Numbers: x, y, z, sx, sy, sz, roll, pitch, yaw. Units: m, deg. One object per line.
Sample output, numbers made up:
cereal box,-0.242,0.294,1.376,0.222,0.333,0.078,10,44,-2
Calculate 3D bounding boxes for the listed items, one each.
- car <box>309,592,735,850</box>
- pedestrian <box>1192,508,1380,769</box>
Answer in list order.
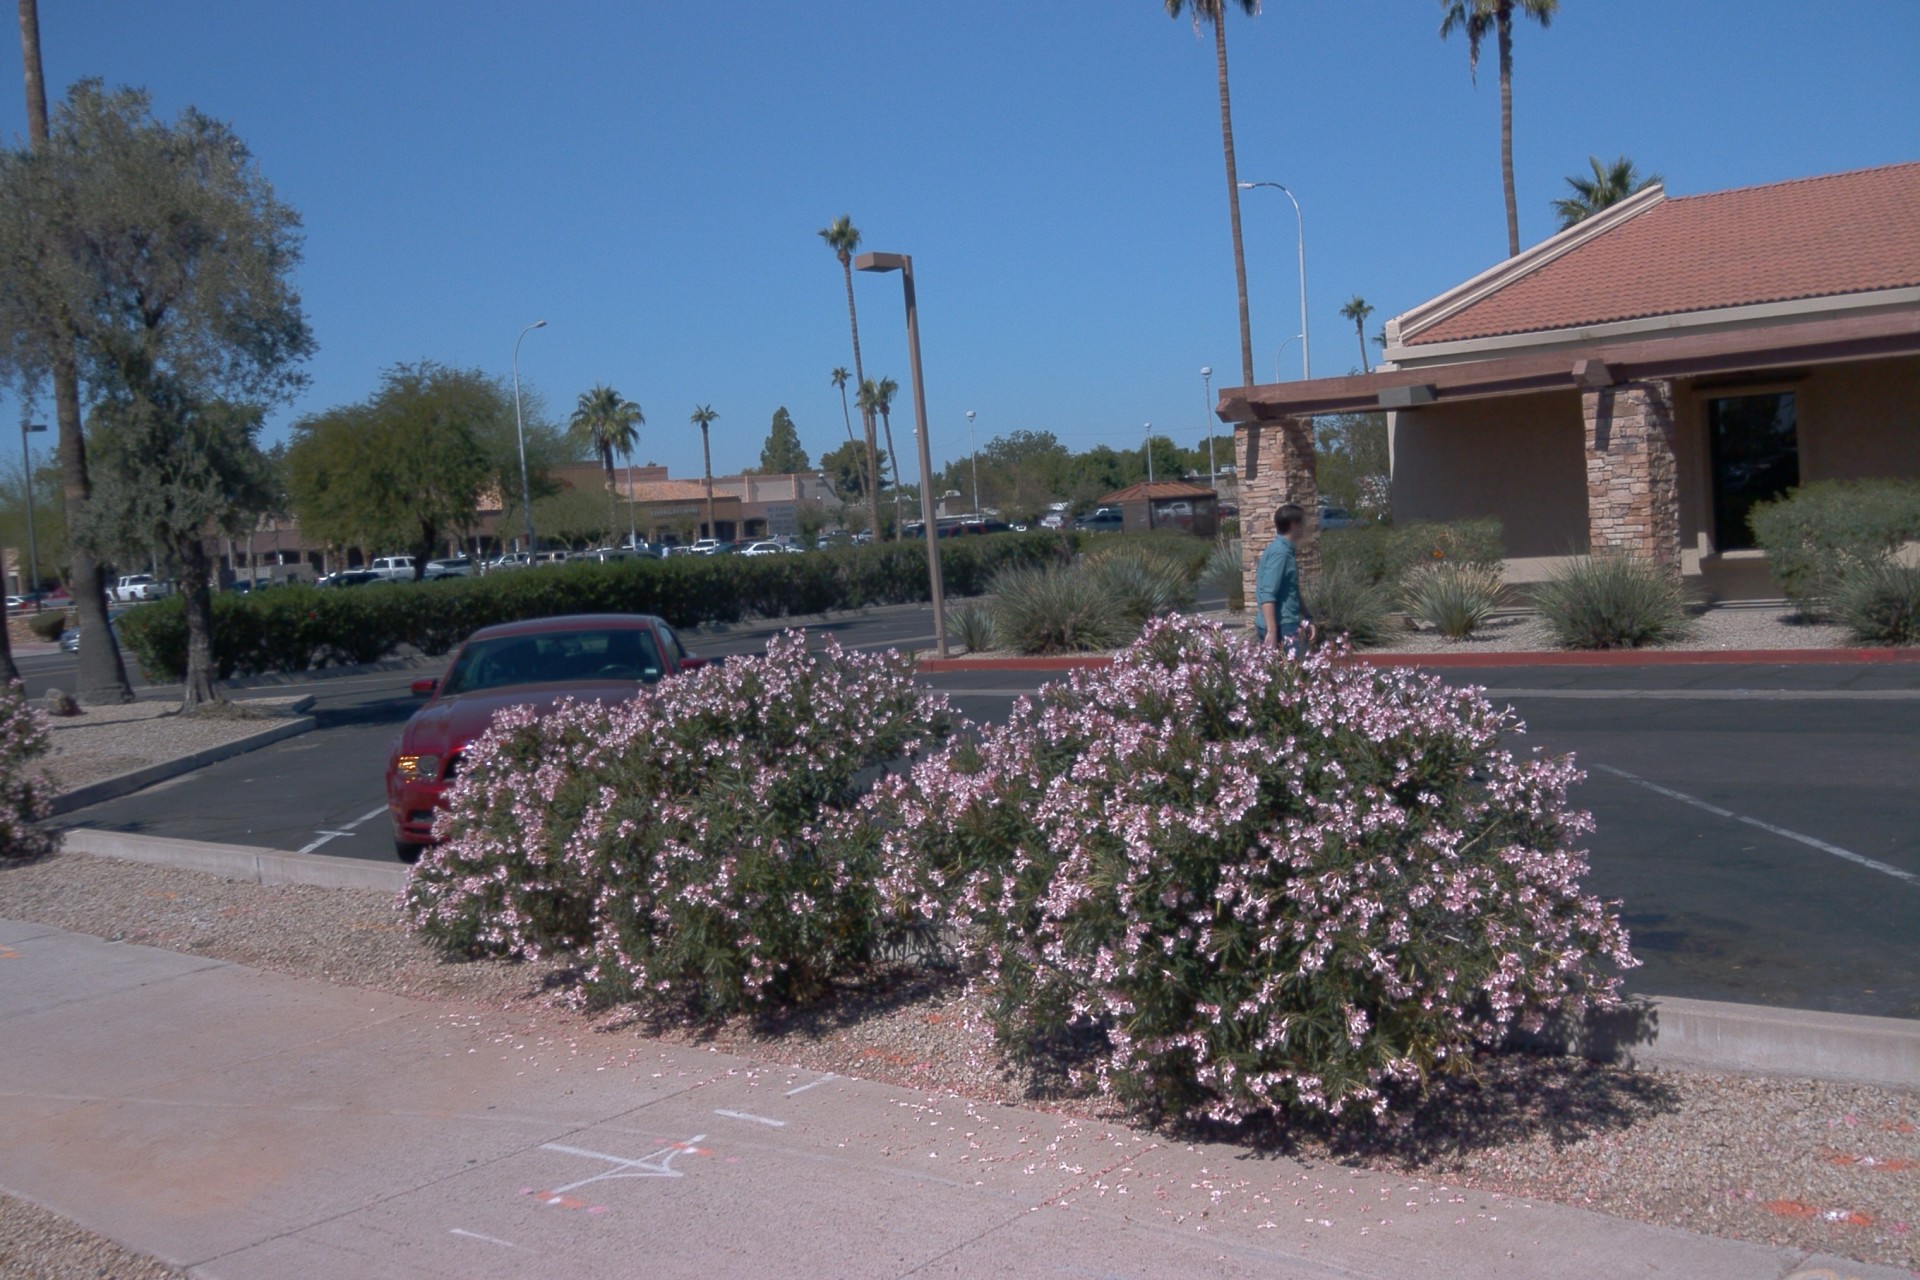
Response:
car,-2.756,0.502,14.270,2.093,1.442,4.763,-1,-1,-3
pedestrian,2.320,-0.003,14.965,1.174,1.800,0.973,-1,-1,1
